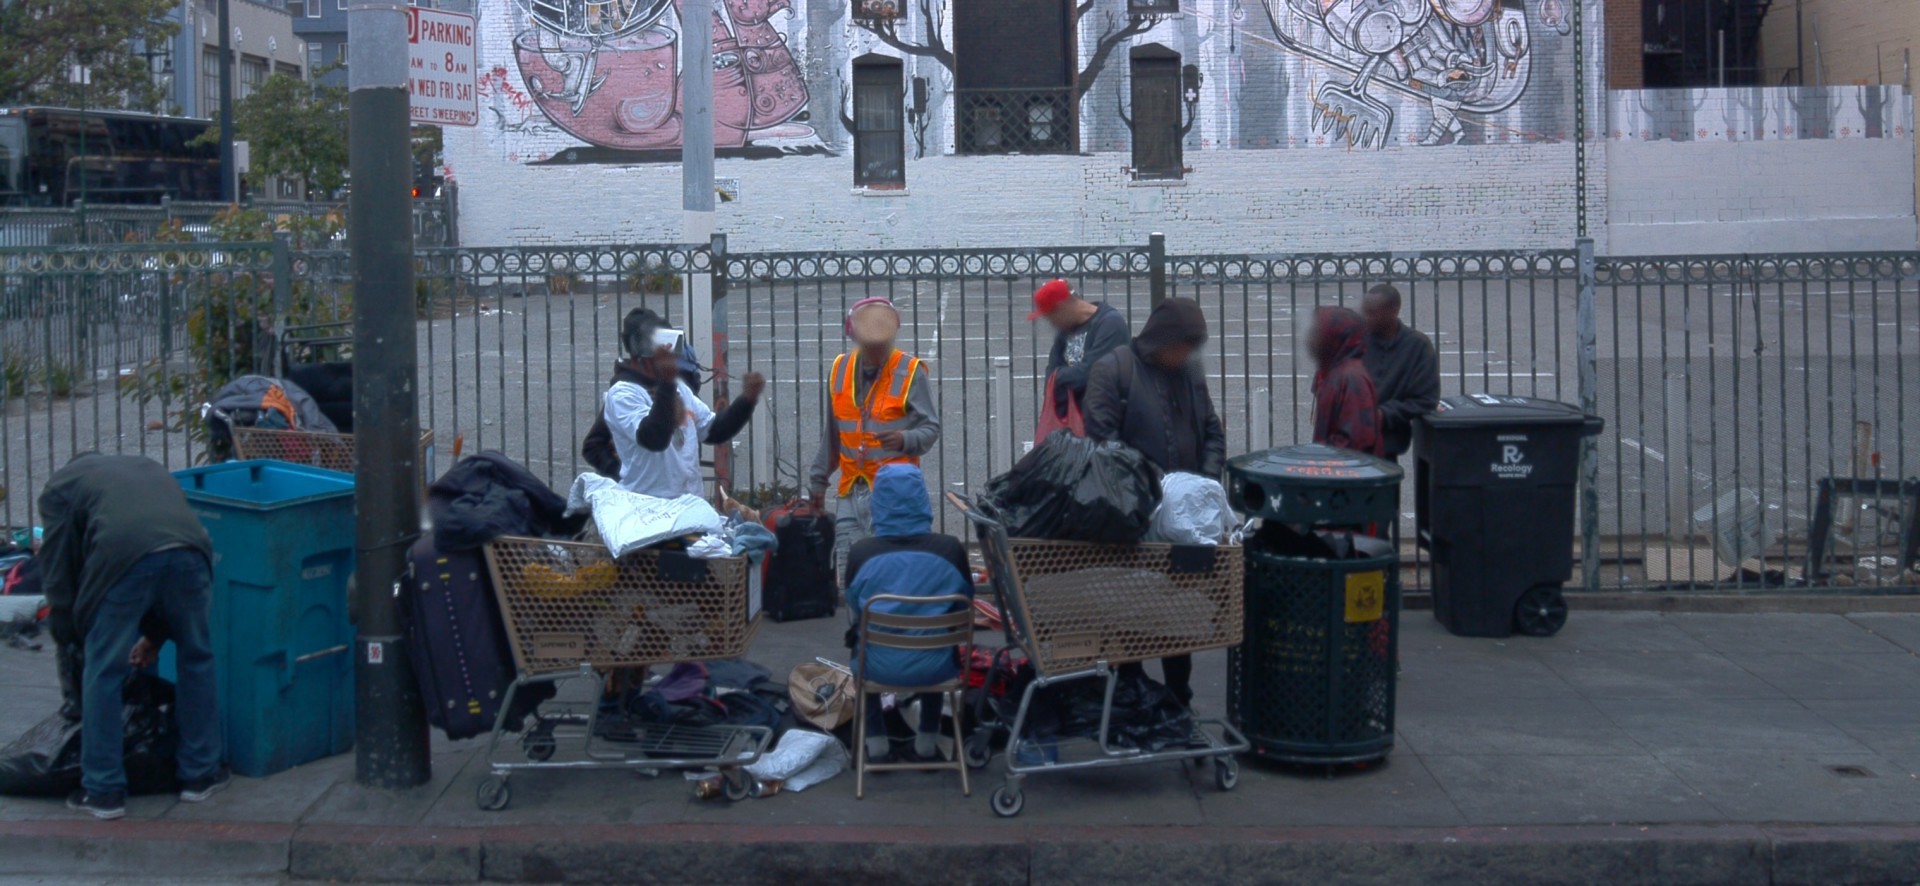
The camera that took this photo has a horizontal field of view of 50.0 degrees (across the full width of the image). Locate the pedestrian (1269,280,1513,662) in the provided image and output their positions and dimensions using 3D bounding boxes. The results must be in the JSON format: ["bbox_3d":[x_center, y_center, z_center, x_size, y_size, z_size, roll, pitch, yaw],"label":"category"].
[{"bbox_3d":[2.104,0.098,10.181,1.086,1.777,0.844,0,2,5],"label":"pedestrian"}]

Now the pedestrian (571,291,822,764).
[{"bbox_3d":[-1.027,0.292,8.222,0.887,1.767,0.832,0,2,0],"label":"pedestrian"}]

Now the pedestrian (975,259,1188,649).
[{"bbox_3d":[0.606,0.008,10.259,0.787,1.827,0.722,2,2,41],"label":"pedestrian"}]

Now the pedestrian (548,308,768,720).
[{"bbox_3d":[-1.303,0.260,9.050,0.733,1.657,1.021,0,2,6],"label":"pedestrian"}]

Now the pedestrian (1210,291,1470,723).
[{"bbox_3d":[1.671,0.226,9.118,1.067,1.757,0.984,0,2,10],"label":"pedestrian"}]

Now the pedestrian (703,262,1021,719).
[{"bbox_3d":[-0.420,0.139,8.972,1.110,1.827,0.830,1,2,31],"label":"pedestrian"}]

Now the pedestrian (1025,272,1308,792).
[{"bbox_3d":[0.806,0.290,8.156,0.853,1.907,0.747,-1,2,-24],"label":"pedestrian"}]

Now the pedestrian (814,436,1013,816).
[{"bbox_3d":[-0.156,0.651,7.672,0.708,1.278,0.715,0,2,2],"label":"pedestrian"}]
